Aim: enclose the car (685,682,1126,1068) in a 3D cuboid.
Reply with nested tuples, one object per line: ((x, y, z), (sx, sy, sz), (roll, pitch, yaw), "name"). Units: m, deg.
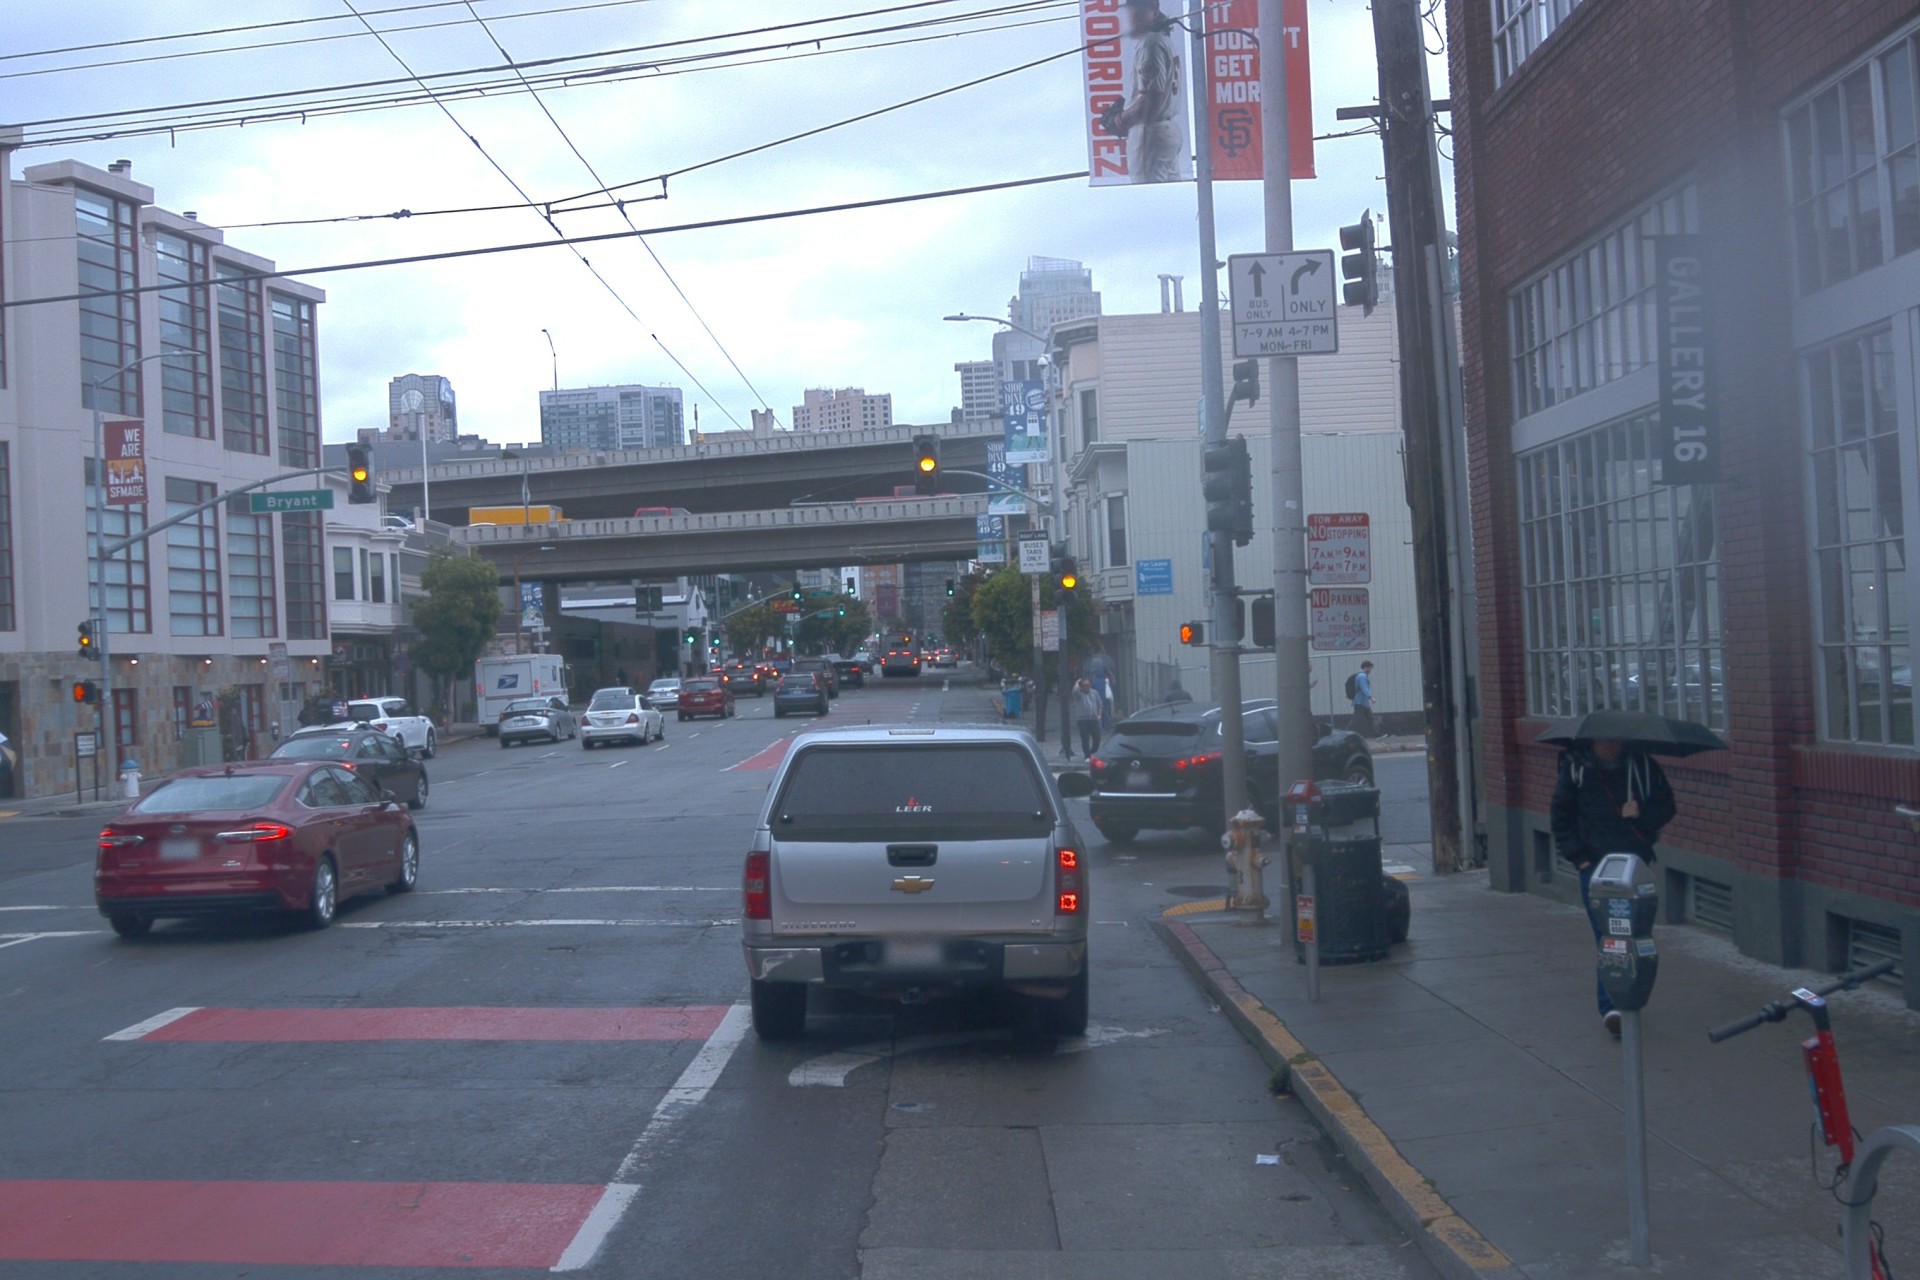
((-0.222, 1.344, 14.113), (2.411, 2.070, 5.548), (0, -1, 2), "car")

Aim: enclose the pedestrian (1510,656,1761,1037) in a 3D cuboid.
((3.468, 1.025, 10.750), (1.015, 1.870, 1.039), (0, -1, 5), "pedestrian")

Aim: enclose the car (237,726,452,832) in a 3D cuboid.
((-9.745, 2.164, 33.239), (1.997, 1.440, 4.699), (0, -1, 1), "car")

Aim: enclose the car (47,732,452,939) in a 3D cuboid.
((-6.415, 1.708, 19.432), (2.112, 1.530, 4.957), (0, -1, 0), "car")

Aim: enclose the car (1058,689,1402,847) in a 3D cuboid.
((3.310, 1.438, 24.747), (2.023, 1.670, 4.396), (-1, -1, 40), "car")
